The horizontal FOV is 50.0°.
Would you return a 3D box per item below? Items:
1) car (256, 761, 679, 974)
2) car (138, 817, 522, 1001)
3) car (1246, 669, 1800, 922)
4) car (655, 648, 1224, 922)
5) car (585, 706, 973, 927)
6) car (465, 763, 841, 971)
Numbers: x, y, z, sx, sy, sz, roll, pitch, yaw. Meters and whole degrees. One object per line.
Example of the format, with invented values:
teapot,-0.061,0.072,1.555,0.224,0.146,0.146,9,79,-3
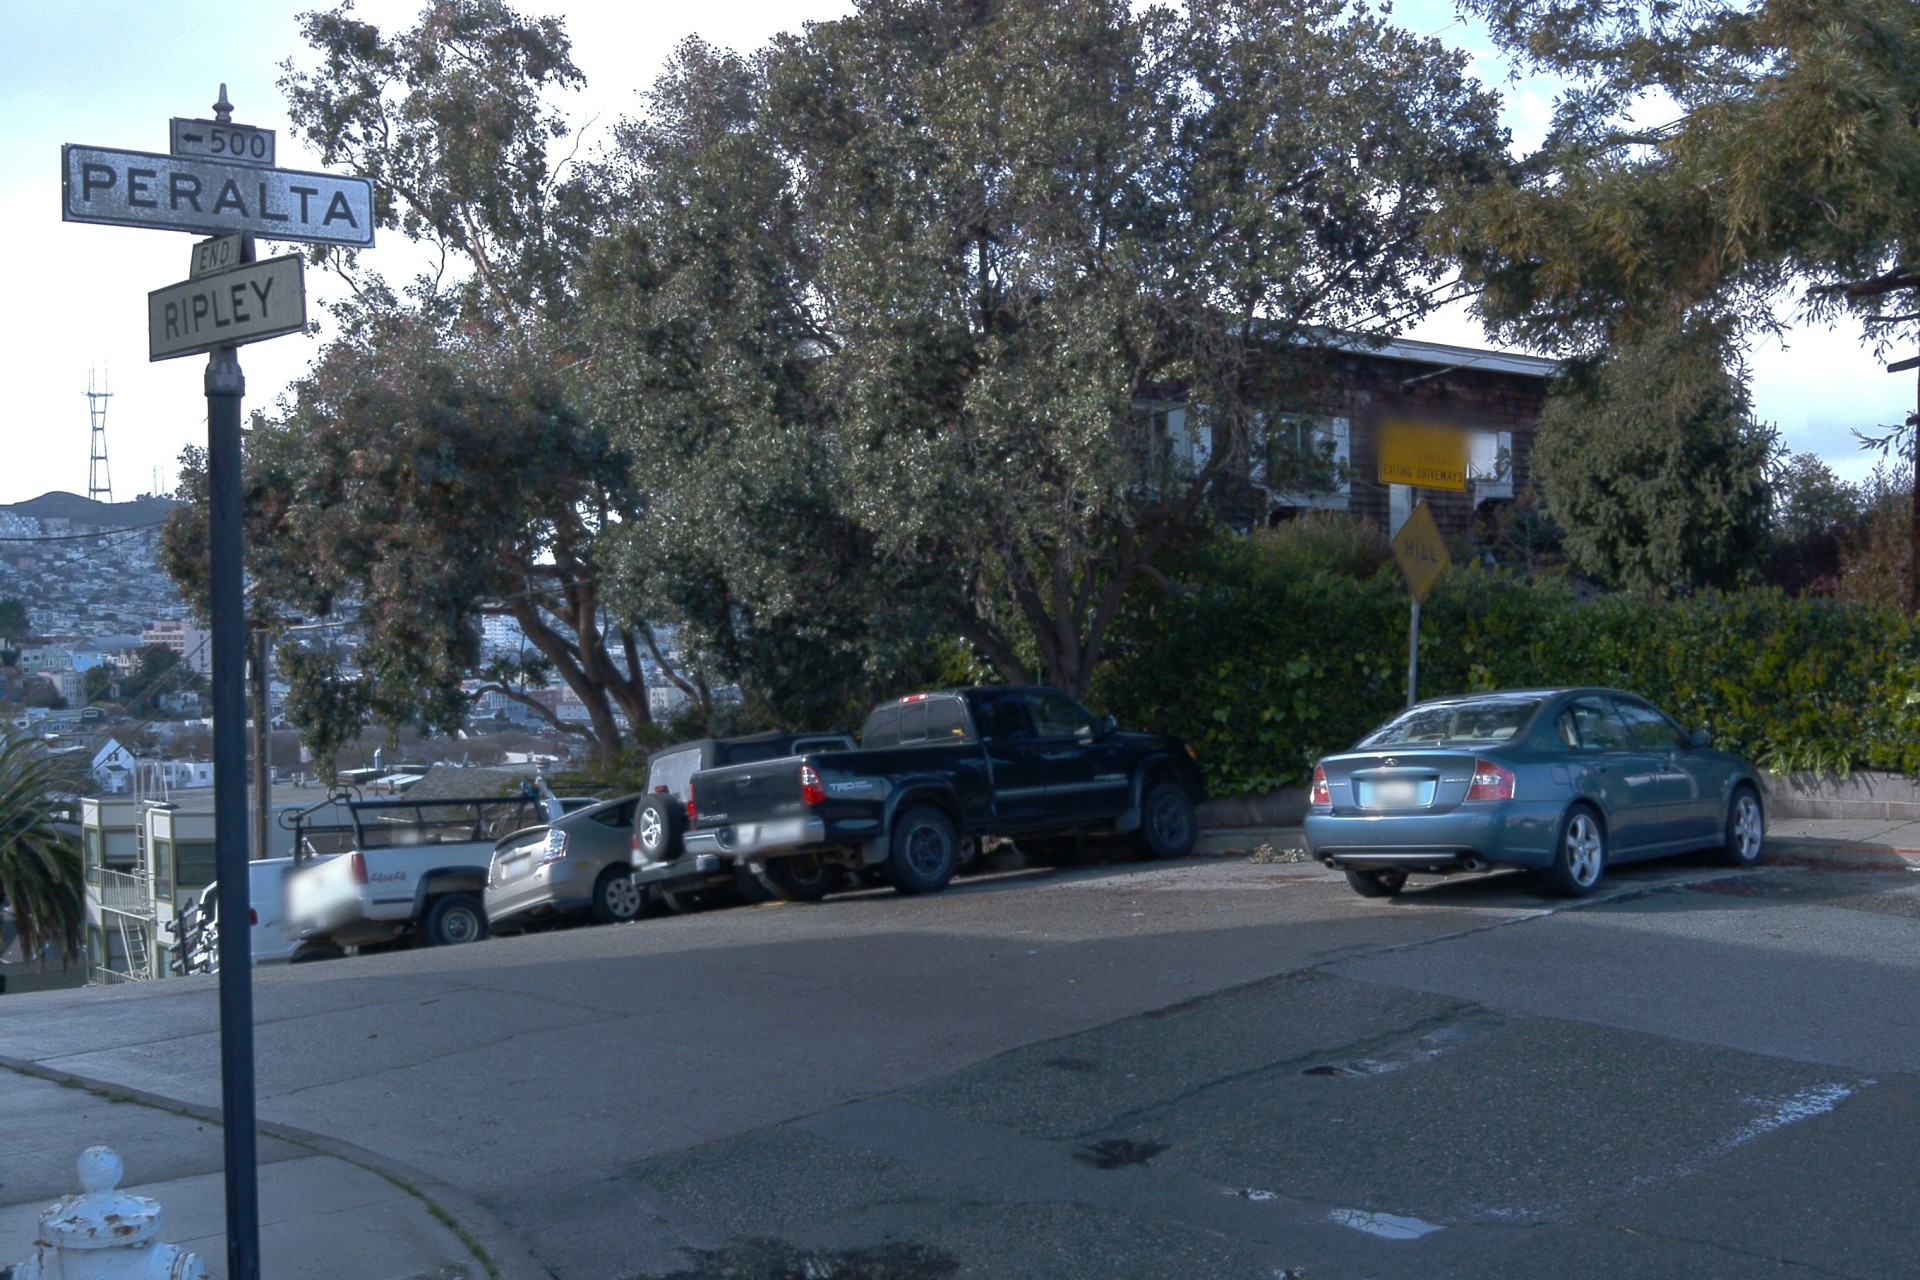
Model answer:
car,-5.801,2.591,24.495,4.328,1.990,2.275,0,1,-43
car,-8.339,3.486,27.435,4.365,1.810,2.217,0,1,-43
car,4.218,0.991,14.942,1.903,1.450,4.521,1,1,45
car,-0.038,1.203,19.552,5.451,2.190,2.073,0,1,-44
car,-1.876,1.783,21.961,3.837,2.000,1.720,0,1,-41
car,-3.402,2.460,23.150,3.842,1.880,1.735,0,1,-41
